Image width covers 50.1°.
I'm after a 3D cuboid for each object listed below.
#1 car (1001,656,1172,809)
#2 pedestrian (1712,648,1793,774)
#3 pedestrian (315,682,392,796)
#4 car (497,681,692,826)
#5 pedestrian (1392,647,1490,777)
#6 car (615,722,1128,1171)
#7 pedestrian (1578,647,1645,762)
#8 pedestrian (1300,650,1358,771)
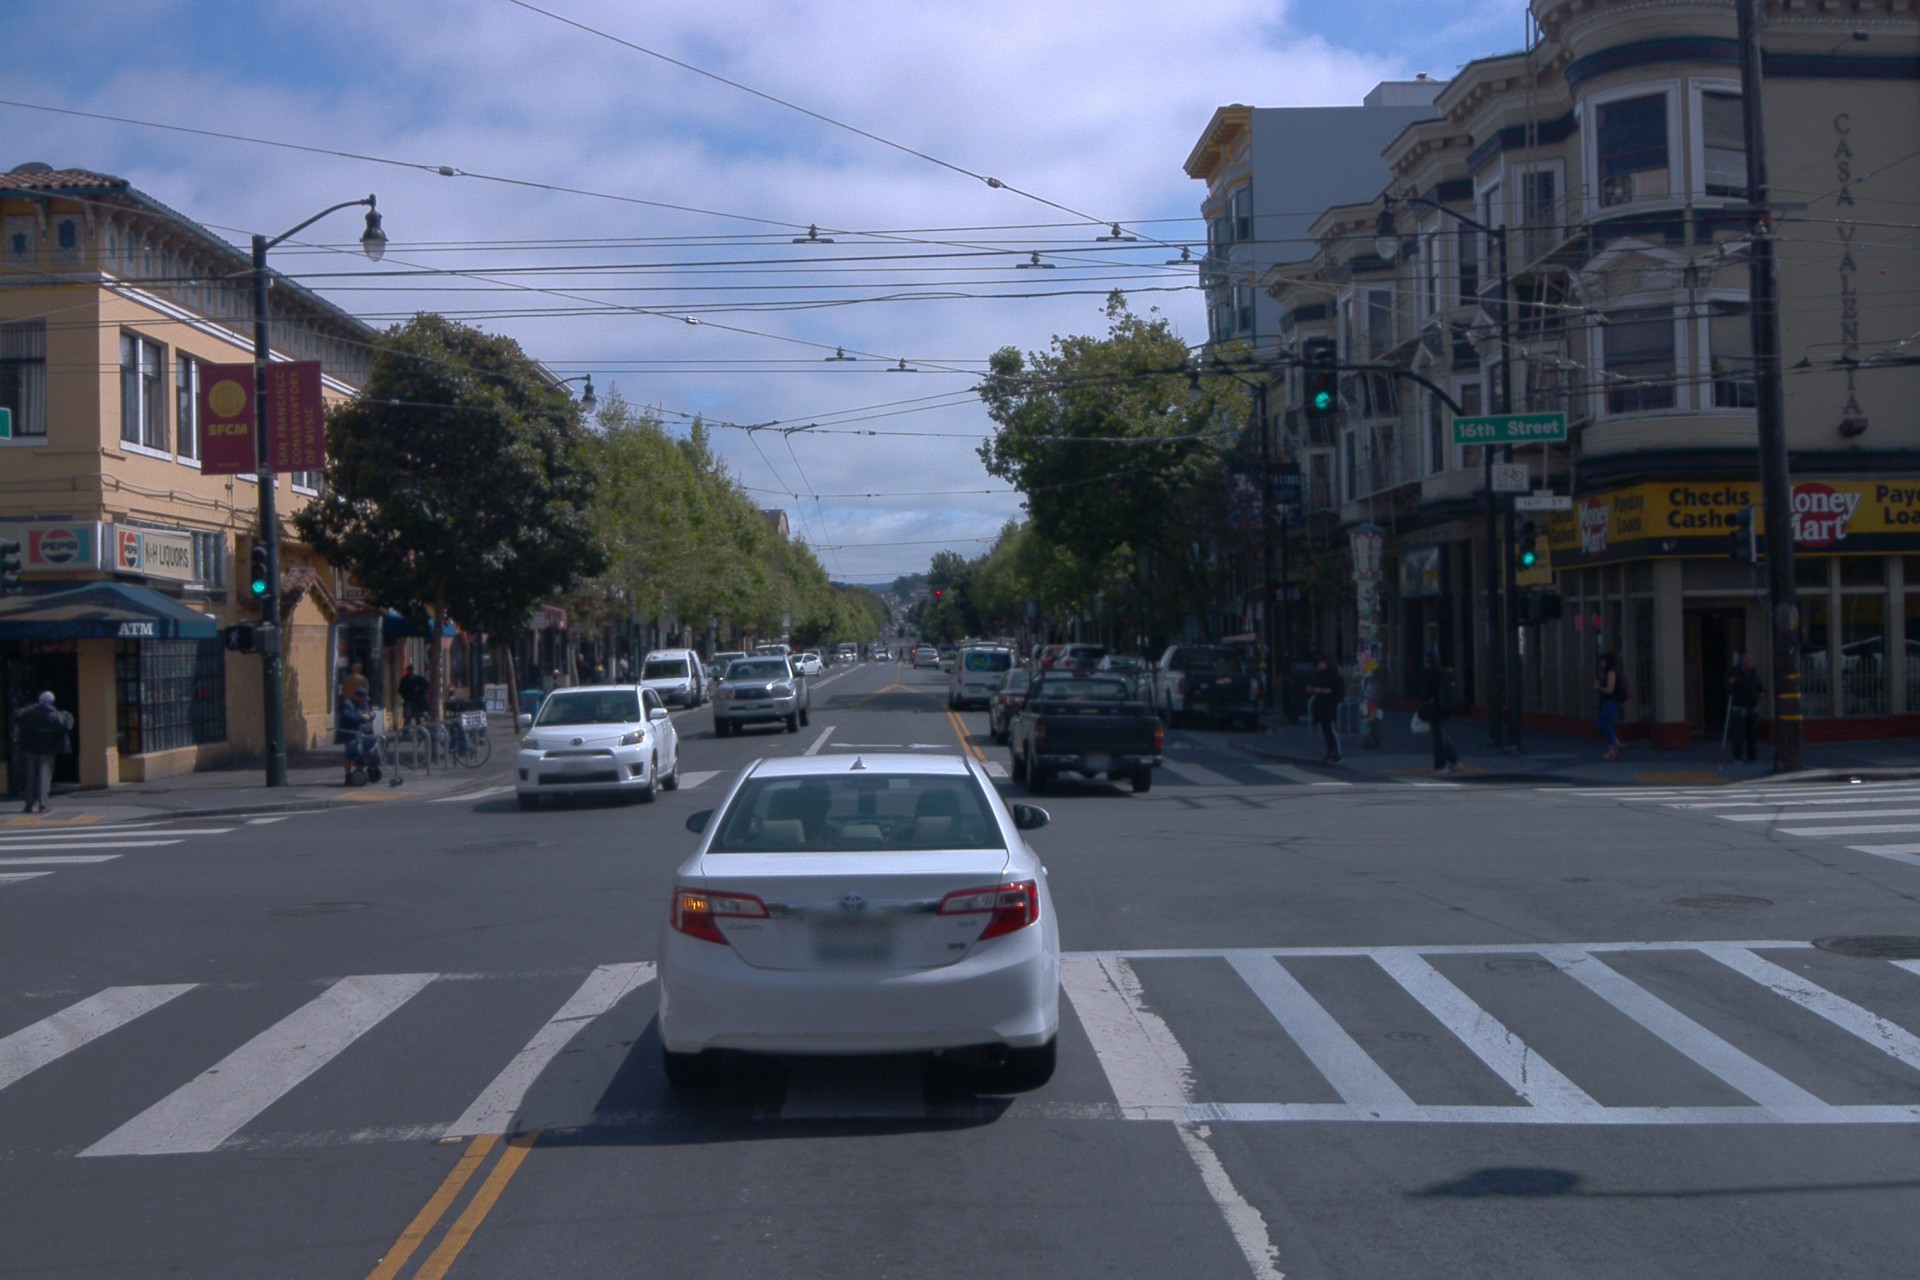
[{"bbox_3d":[1.619,1.167,27.851,1.837,1.810,4.425,0,1,-3],"label":"car"},{"bbox_3d":[11.693,1.022,30.379,1.003,1.790,1.325,0,1,17],"label":"pedestrian"},{"bbox_3d":[-9.955,1.607,33.747,0.827,1.790,0.866,0,1,36],"label":"pedestrian"},{"bbox_3d":[-4.652,1.401,26.702,1.947,1.610,3.886,0,1,-2],"label":"car"},{"bbox_3d":[7.368,1.086,31.504,0.932,1.920,1.116,-1,1,-34],"label":"pedestrian"},{"bbox_3d":[-0.466,1.333,10.636,2.079,1.570,4.573,0,1,-3],"label":"car"},{"bbox_3d":[10.110,0.995,31.916,0.932,1.750,0.696,0,1,13],"label":"pedestrian"},{"bbox_3d":[6.017,1.138,33.531,0.766,1.920,0.749,0,1,-4],"label":"pedestrian"}]
